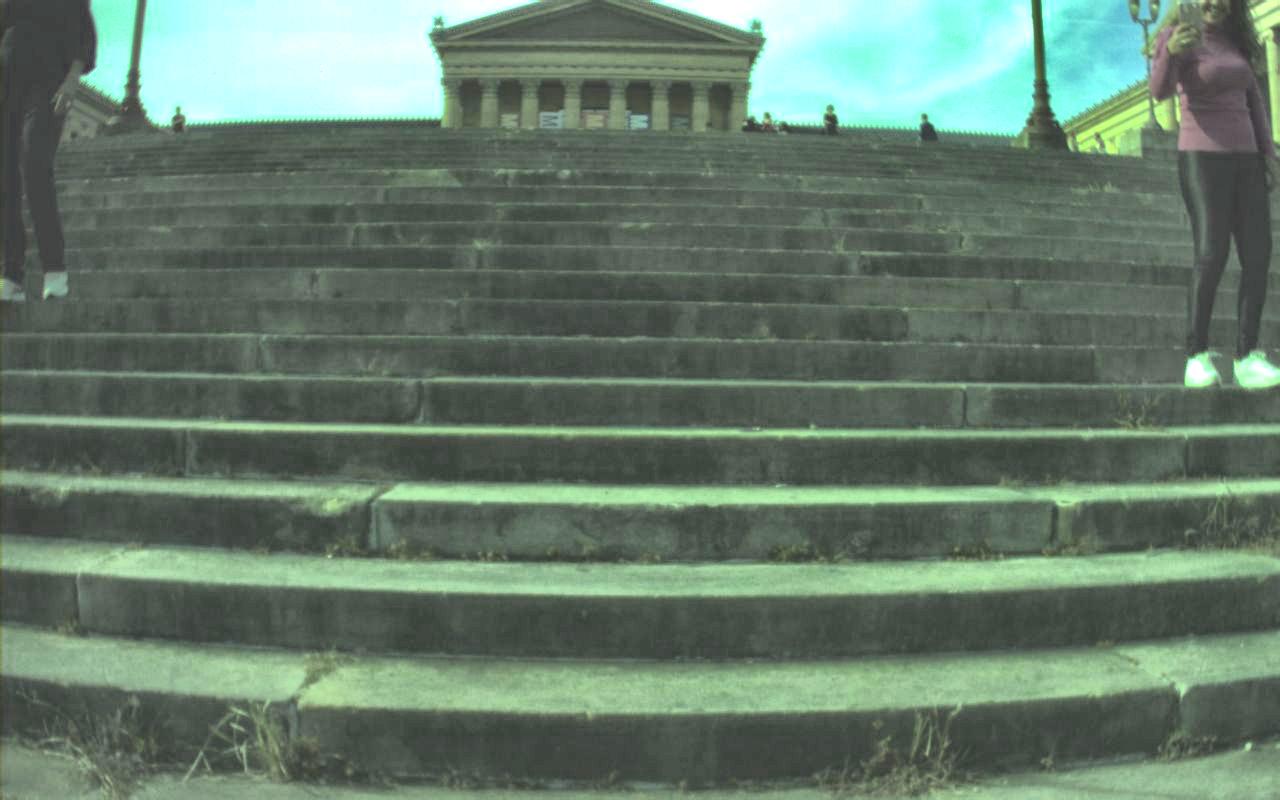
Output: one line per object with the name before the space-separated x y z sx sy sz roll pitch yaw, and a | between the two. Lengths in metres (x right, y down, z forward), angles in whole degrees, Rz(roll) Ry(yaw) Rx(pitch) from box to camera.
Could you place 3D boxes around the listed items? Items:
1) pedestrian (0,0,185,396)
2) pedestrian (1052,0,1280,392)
pedestrian | -2.390 -0.868 4.527 0.762 1.706 0.773 1 0 42
pedestrian | 1.974 -0.852 3.888 0.760 1.651 0.780 0 0 -25
